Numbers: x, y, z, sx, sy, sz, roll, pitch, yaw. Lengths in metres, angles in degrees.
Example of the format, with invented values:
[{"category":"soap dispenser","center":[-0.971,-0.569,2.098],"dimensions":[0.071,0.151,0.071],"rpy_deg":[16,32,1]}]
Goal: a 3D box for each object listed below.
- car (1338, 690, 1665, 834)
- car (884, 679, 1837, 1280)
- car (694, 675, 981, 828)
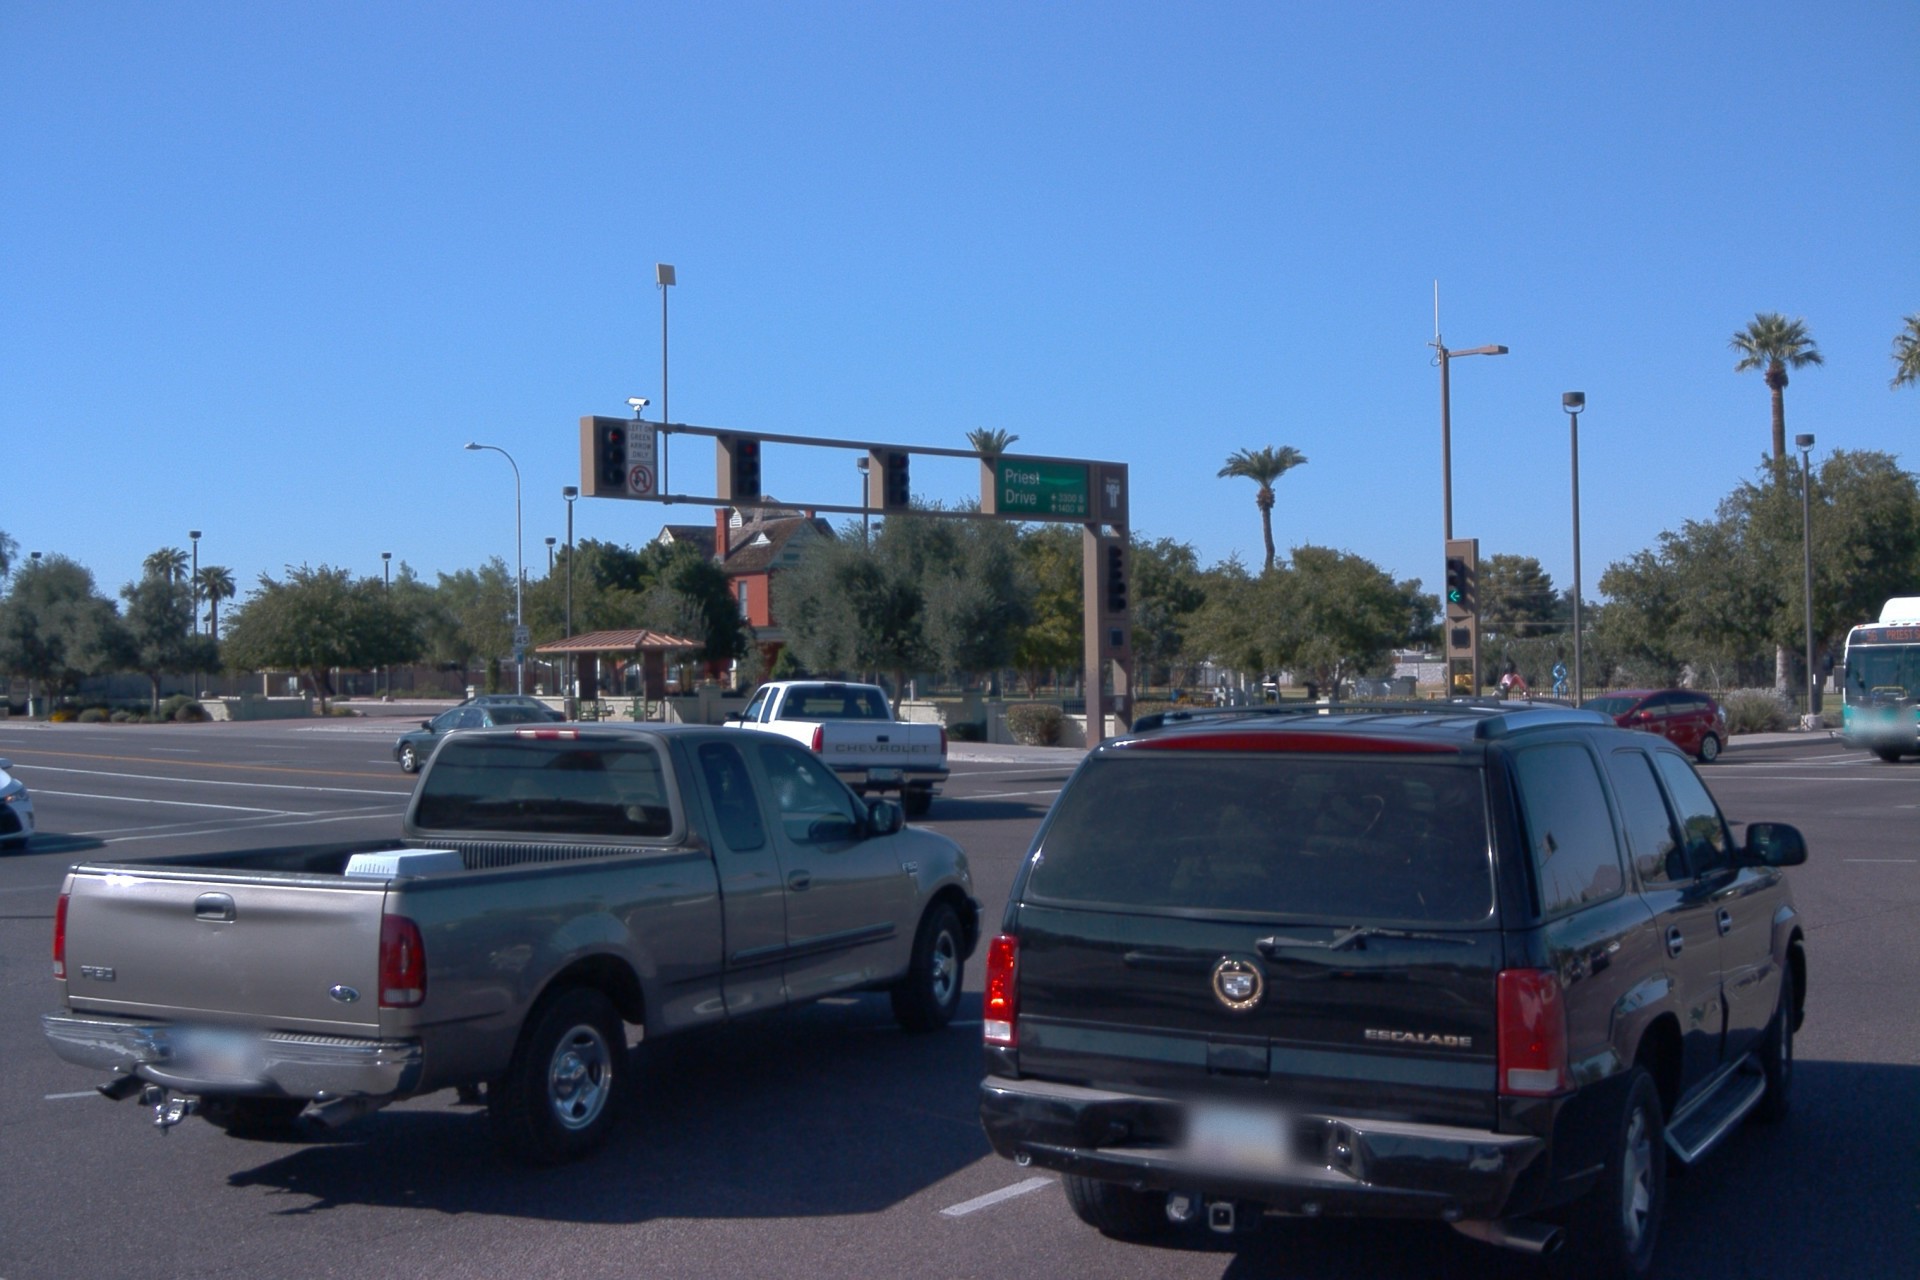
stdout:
[{"category":"car","center":[6.955,1.512,27.310],"dimensions":[2.086,1.610,4.746],"rpy_deg":[0,0,-15]},{"category":"car","center":[1.947,1.179,8.085],"dimensions":[2.204,1.970,5.047],"rpy_deg":[0,0,28]},{"category":"car","center":[-1.955,1.501,30.311],"dimensions":[2.507,1.900,6.159],"rpy_deg":[0,0,-20]}]
